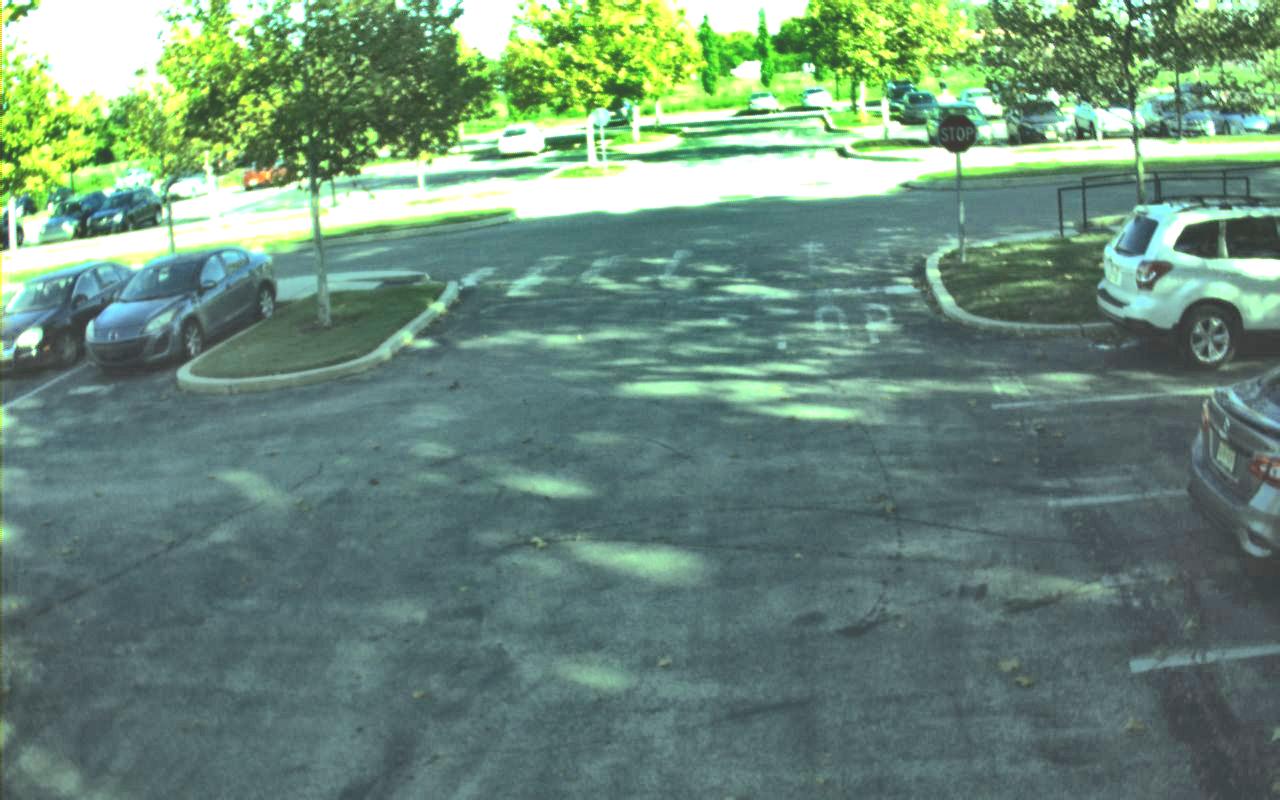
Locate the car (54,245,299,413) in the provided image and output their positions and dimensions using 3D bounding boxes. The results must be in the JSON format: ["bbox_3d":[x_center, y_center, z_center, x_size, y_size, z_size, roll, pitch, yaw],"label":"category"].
[{"bbox_3d":[-7.196,-1.215,18.748,1.930,1.563,4.509,2,17,10],"label":"car"}]

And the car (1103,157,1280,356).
[{"bbox_3d":[7.541,-1.582,12.455,4.599,1.739,1.999,1,16,6],"label":"car"}]

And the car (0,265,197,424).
[{"bbox_3d":[-9.586,-1.030,19.565,1.944,1.566,4.485,4,17,16],"label":"car"}]

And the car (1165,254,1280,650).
[{"bbox_3d":[5.758,0.156,6.877,4.413,1.632,1.974,2,16,9],"label":"car"}]
